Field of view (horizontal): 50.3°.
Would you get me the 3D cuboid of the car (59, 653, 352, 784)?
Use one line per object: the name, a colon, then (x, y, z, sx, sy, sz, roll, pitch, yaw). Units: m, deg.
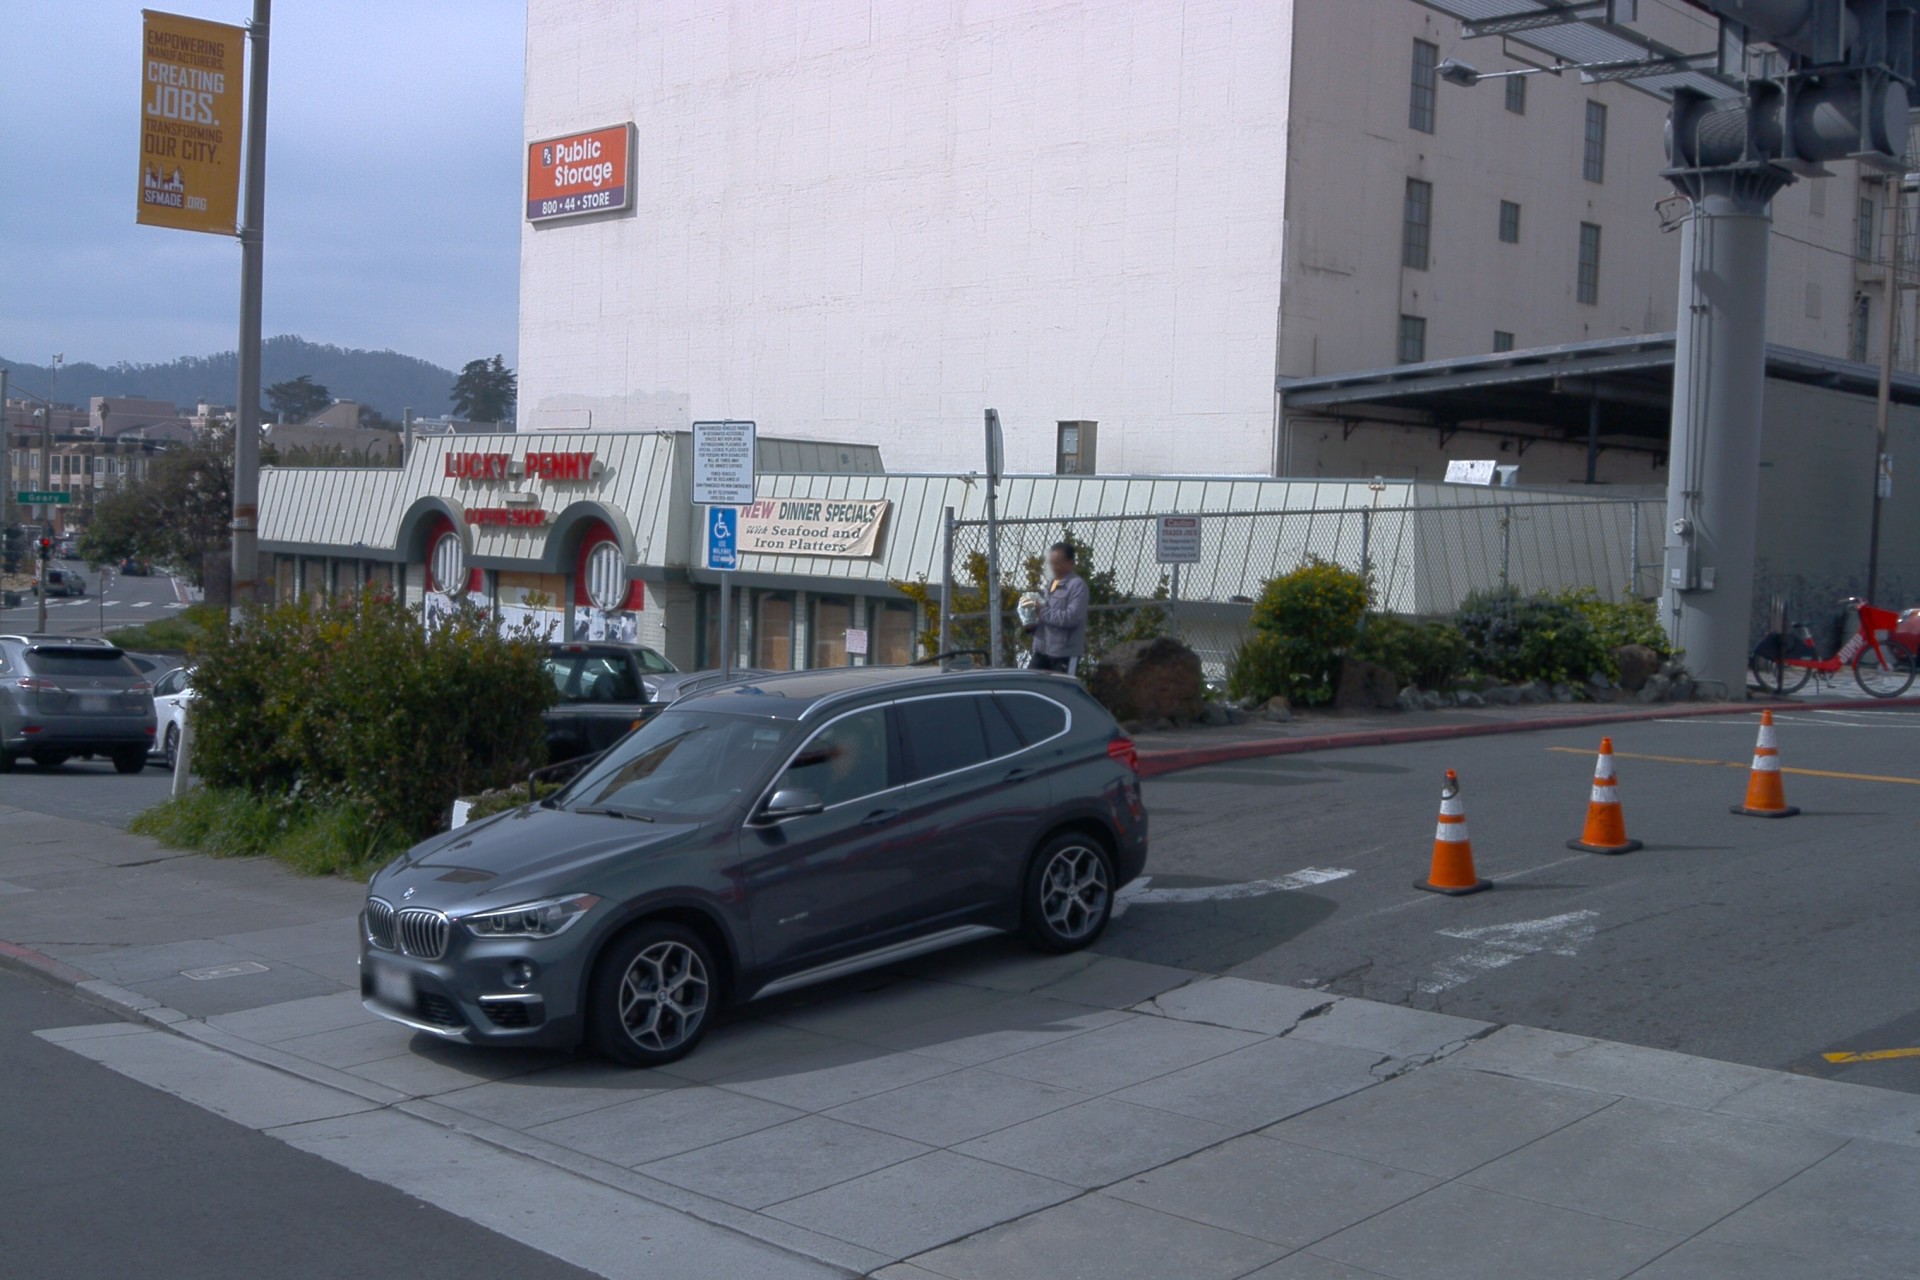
car: (-10.461, 0.999, 28.163, 2.088, 1.580, 4.738, 0, 0, -43)

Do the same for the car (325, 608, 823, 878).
car: (-3.594, 0.787, 18.424, 4.798, 2.110, 1.999, 1, 0, 44)

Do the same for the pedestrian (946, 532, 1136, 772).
pedestrian: (0.617, 0.083, 15.585, 1.076, 1.744, 0.943, 0, 1, -41)

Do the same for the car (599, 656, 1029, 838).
car: (-1.546, 0.964, 20.377, 2.028, 1.540, 4.265, 0, 0, -43)

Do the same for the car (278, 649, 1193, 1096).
car: (-1.040, 0.997, 10.960, 4.468, 1.870, 2.123, 0, 0, -43)
